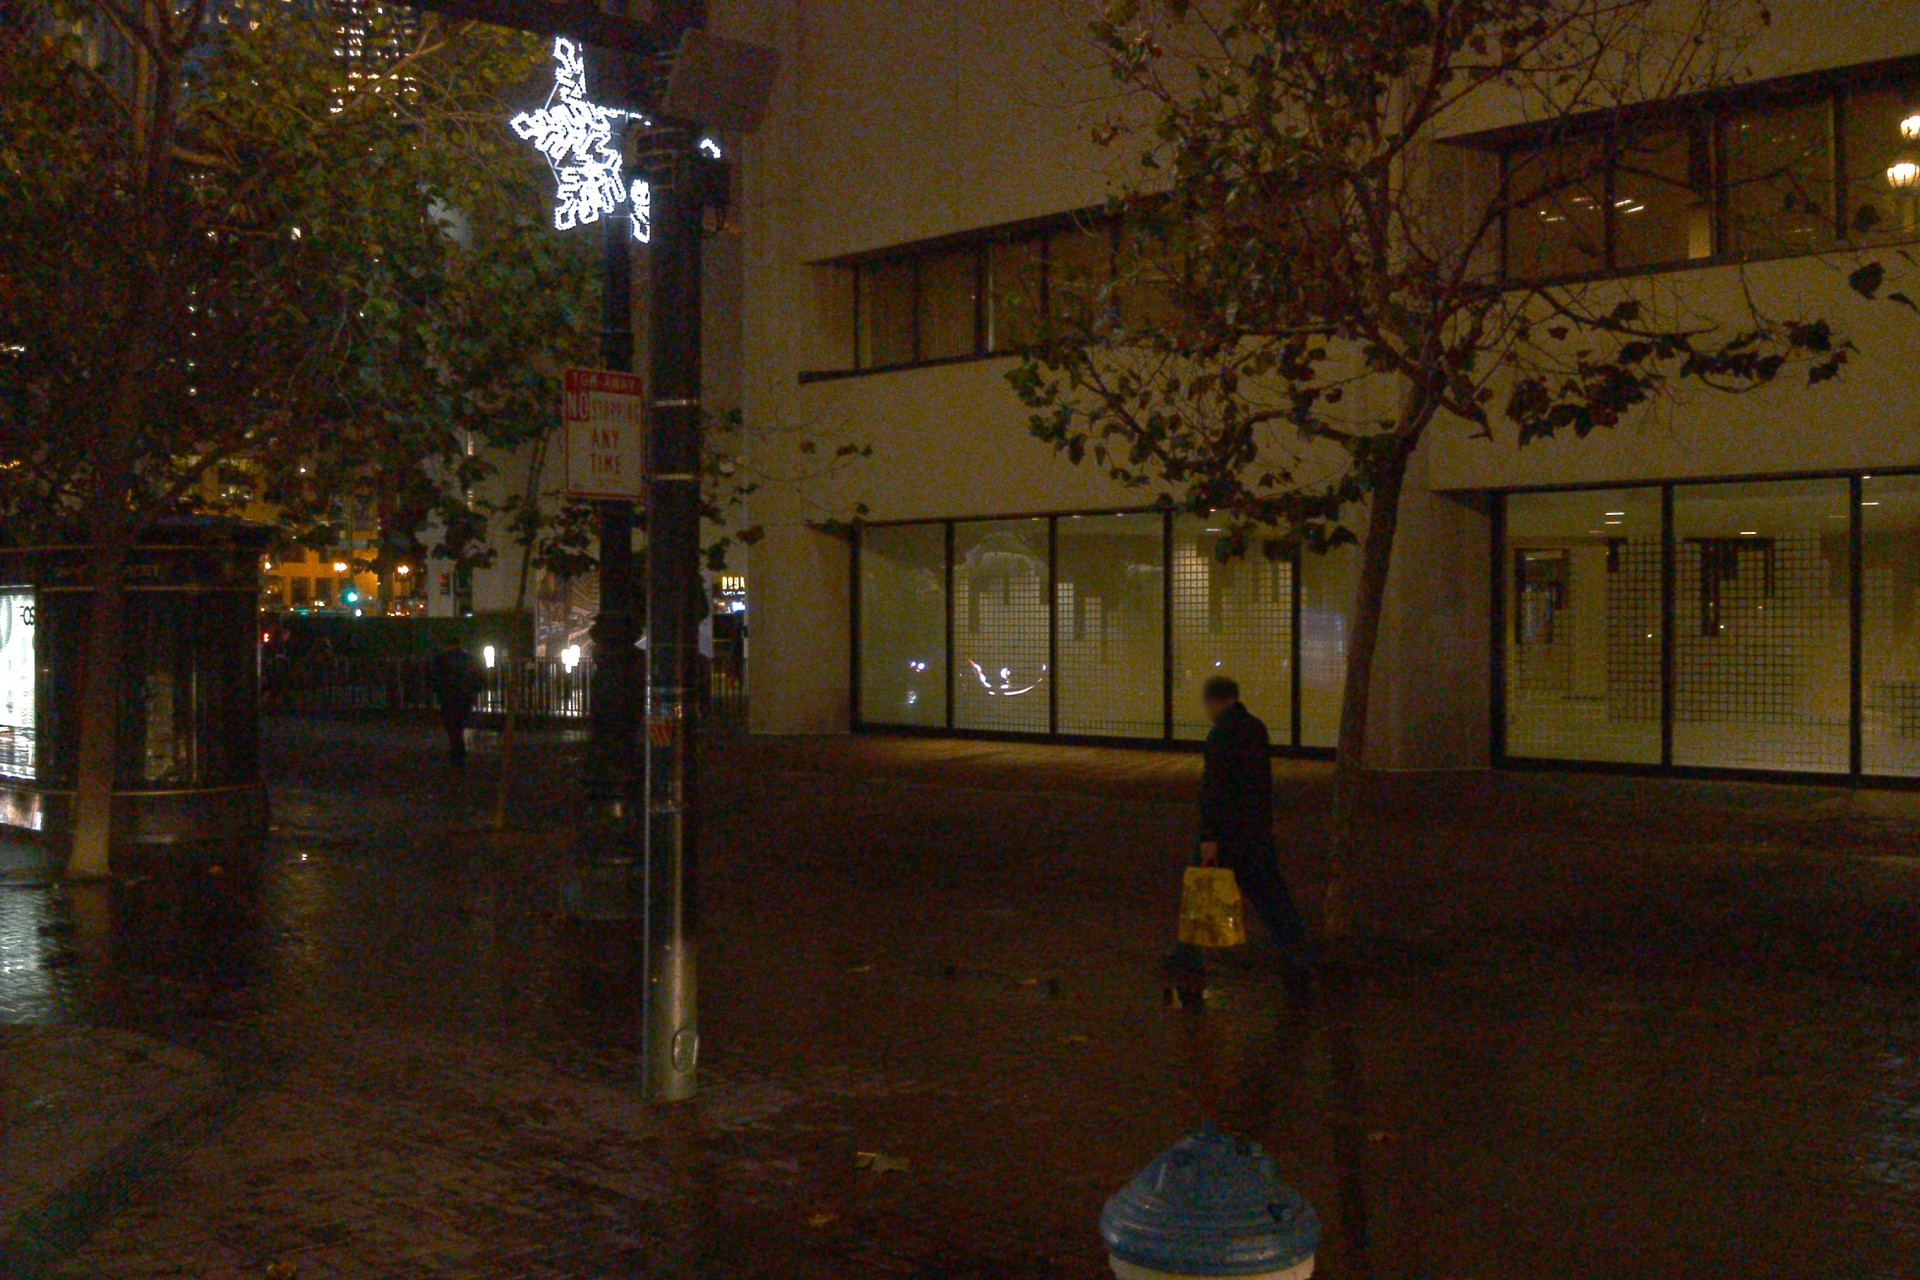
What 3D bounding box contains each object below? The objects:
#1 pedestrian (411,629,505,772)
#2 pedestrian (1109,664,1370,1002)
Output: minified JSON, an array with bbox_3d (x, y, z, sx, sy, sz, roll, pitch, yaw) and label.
[{"bbox_3d":[-6.403,0.751,26.094,0.860,1.780,1.103,1,0,-31],"label":"pedestrian"},{"bbox_3d":[1.545,1.010,11.343,0.941,1.740,1.066,1,0,-44],"label":"pedestrian"}]
